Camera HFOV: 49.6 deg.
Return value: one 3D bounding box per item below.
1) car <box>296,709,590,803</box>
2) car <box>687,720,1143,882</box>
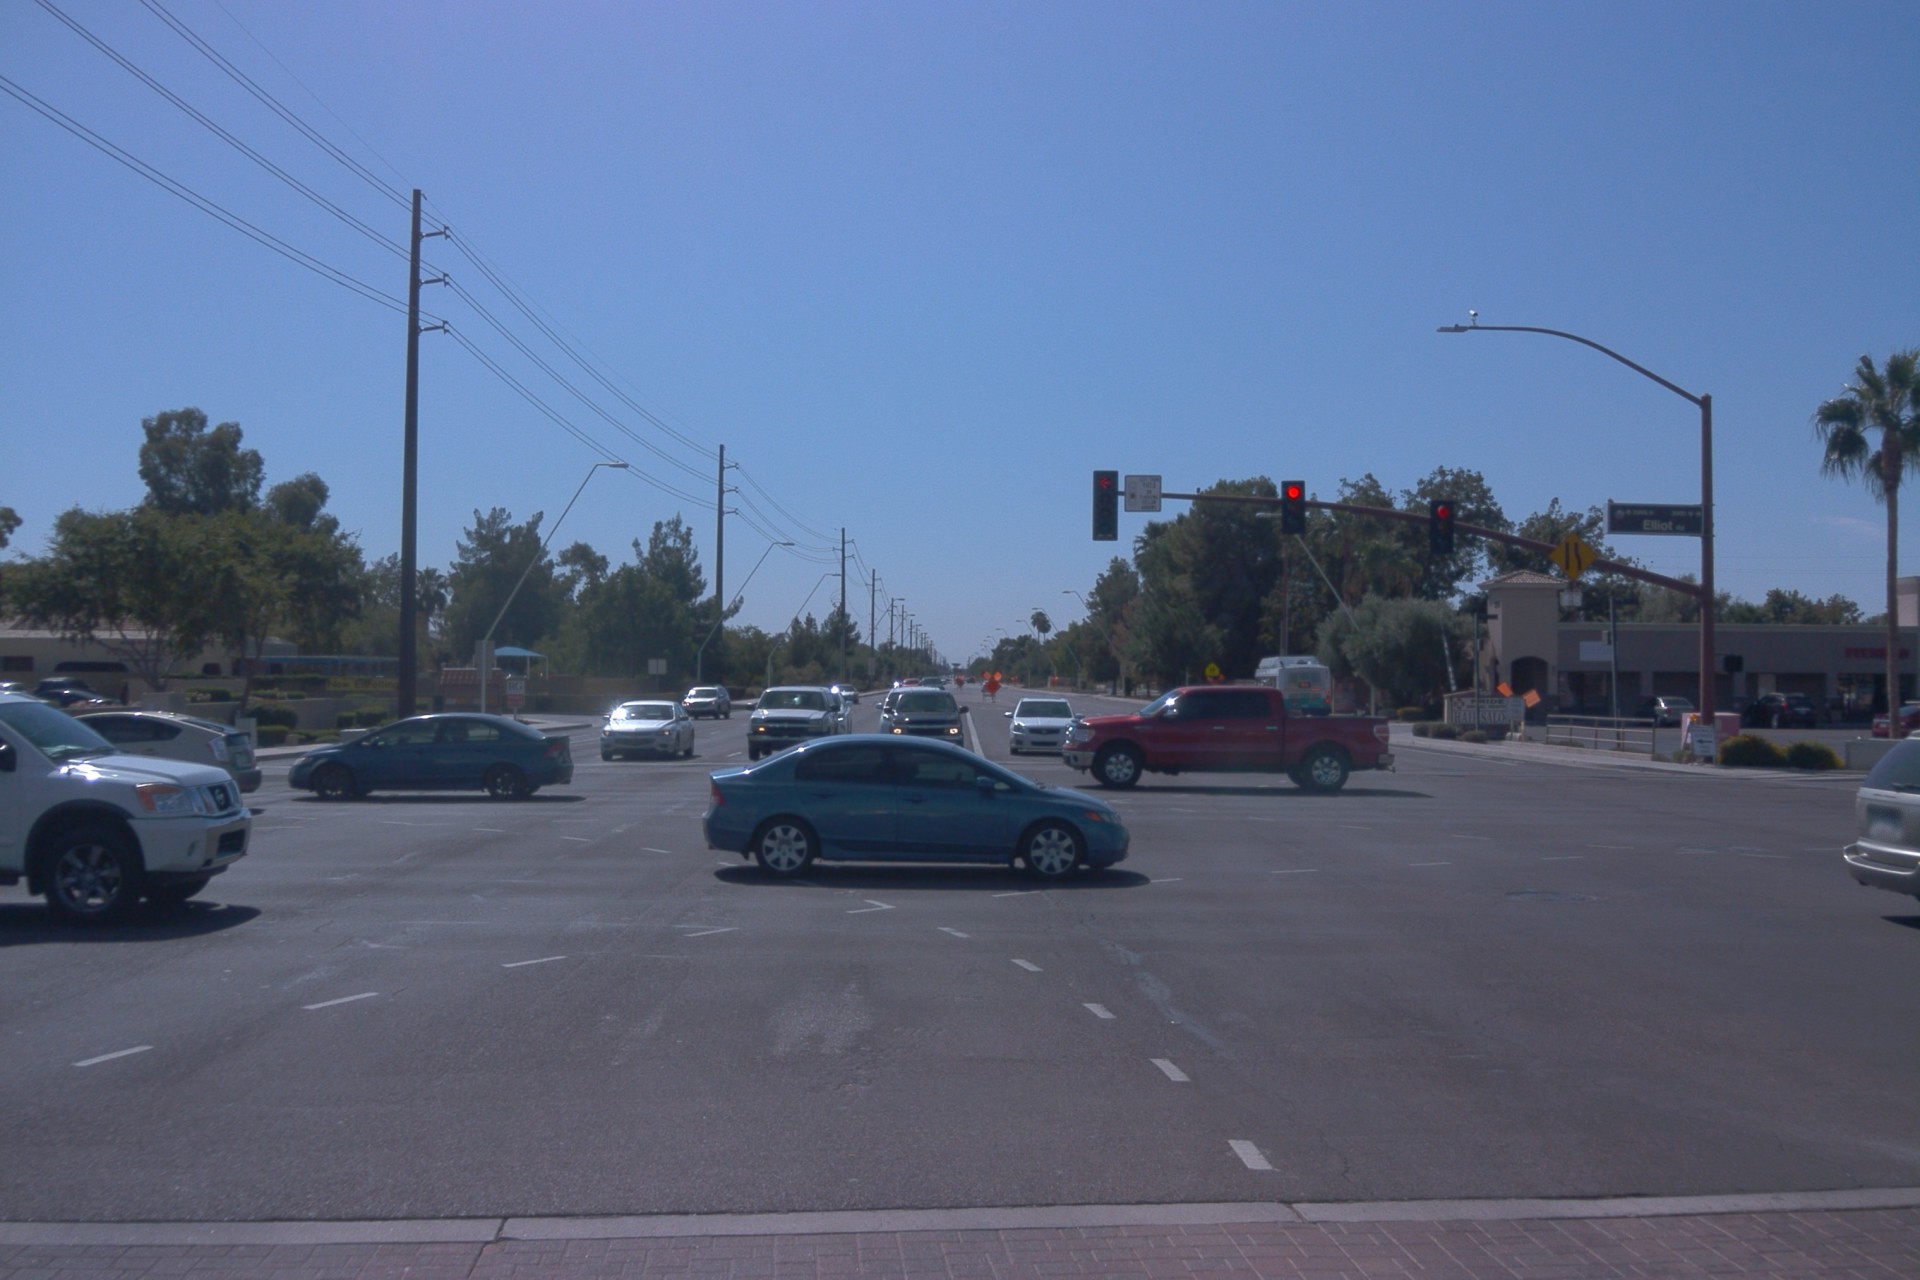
[{"bbox_3d":[-8.459,1.897,34.268,4.385,1.470,1.919,0,-1,-1],"label":"car"},{"bbox_3d":[-0.459,1.623,21.412,4.479,1.540,2.042,0,-1,-1],"label":"car"}]
